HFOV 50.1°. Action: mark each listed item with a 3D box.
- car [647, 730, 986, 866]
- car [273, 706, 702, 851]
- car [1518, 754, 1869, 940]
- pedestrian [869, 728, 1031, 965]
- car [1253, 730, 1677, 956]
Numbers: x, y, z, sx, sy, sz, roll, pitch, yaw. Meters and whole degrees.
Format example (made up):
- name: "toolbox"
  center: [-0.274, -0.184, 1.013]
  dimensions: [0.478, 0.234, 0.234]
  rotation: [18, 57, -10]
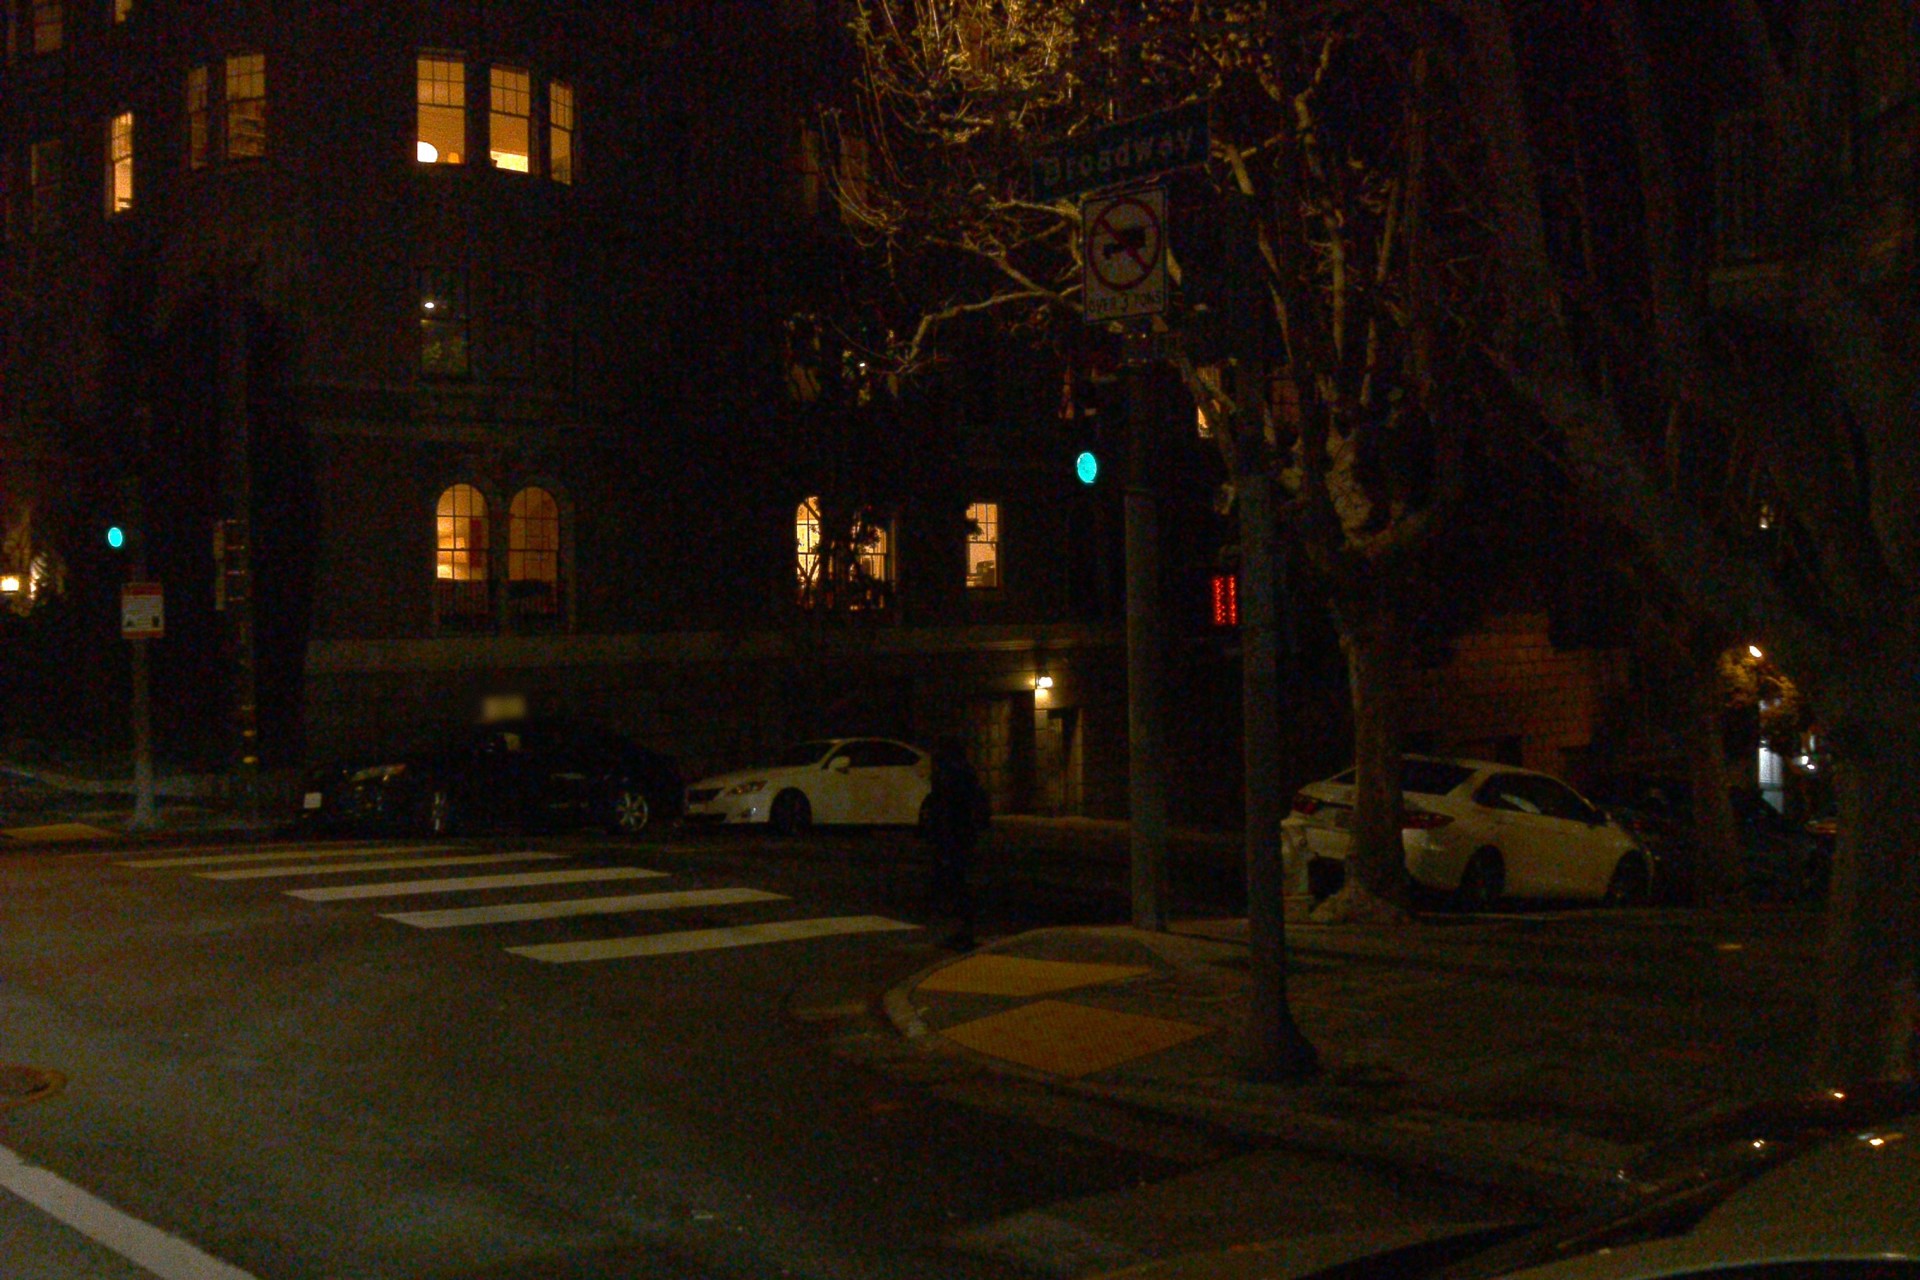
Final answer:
- name: "car"
  center: [-1.848, 2.052, 27.685]
  dimensions: [1.919, 1.482, 4.488]
  rotation: [1, 0, 42]
- name: "car"
  center: [-5.375, 1.529, 23.863]
  dimensions: [1.838, 1.362, 4.644]
  rotation: [1, 0, 42]
- name: "car"
  center: [8.908, 2.381, 24.708]
  dimensions: [4.887, 1.744, 1.990]
  rotation: [0, 0, -44]
- name: "pedestrian"
  center: [-0.071, 1.437, 14.635]
  dimensions: [0.903, 1.570, 0.707]
  rotation: [0, 0, 38]
- name: "car"
  center: [5.160, 1.917, 20.643]
  dimensions: [4.554, 1.811, 1.990]
  rotation: [0, 0, -44]
